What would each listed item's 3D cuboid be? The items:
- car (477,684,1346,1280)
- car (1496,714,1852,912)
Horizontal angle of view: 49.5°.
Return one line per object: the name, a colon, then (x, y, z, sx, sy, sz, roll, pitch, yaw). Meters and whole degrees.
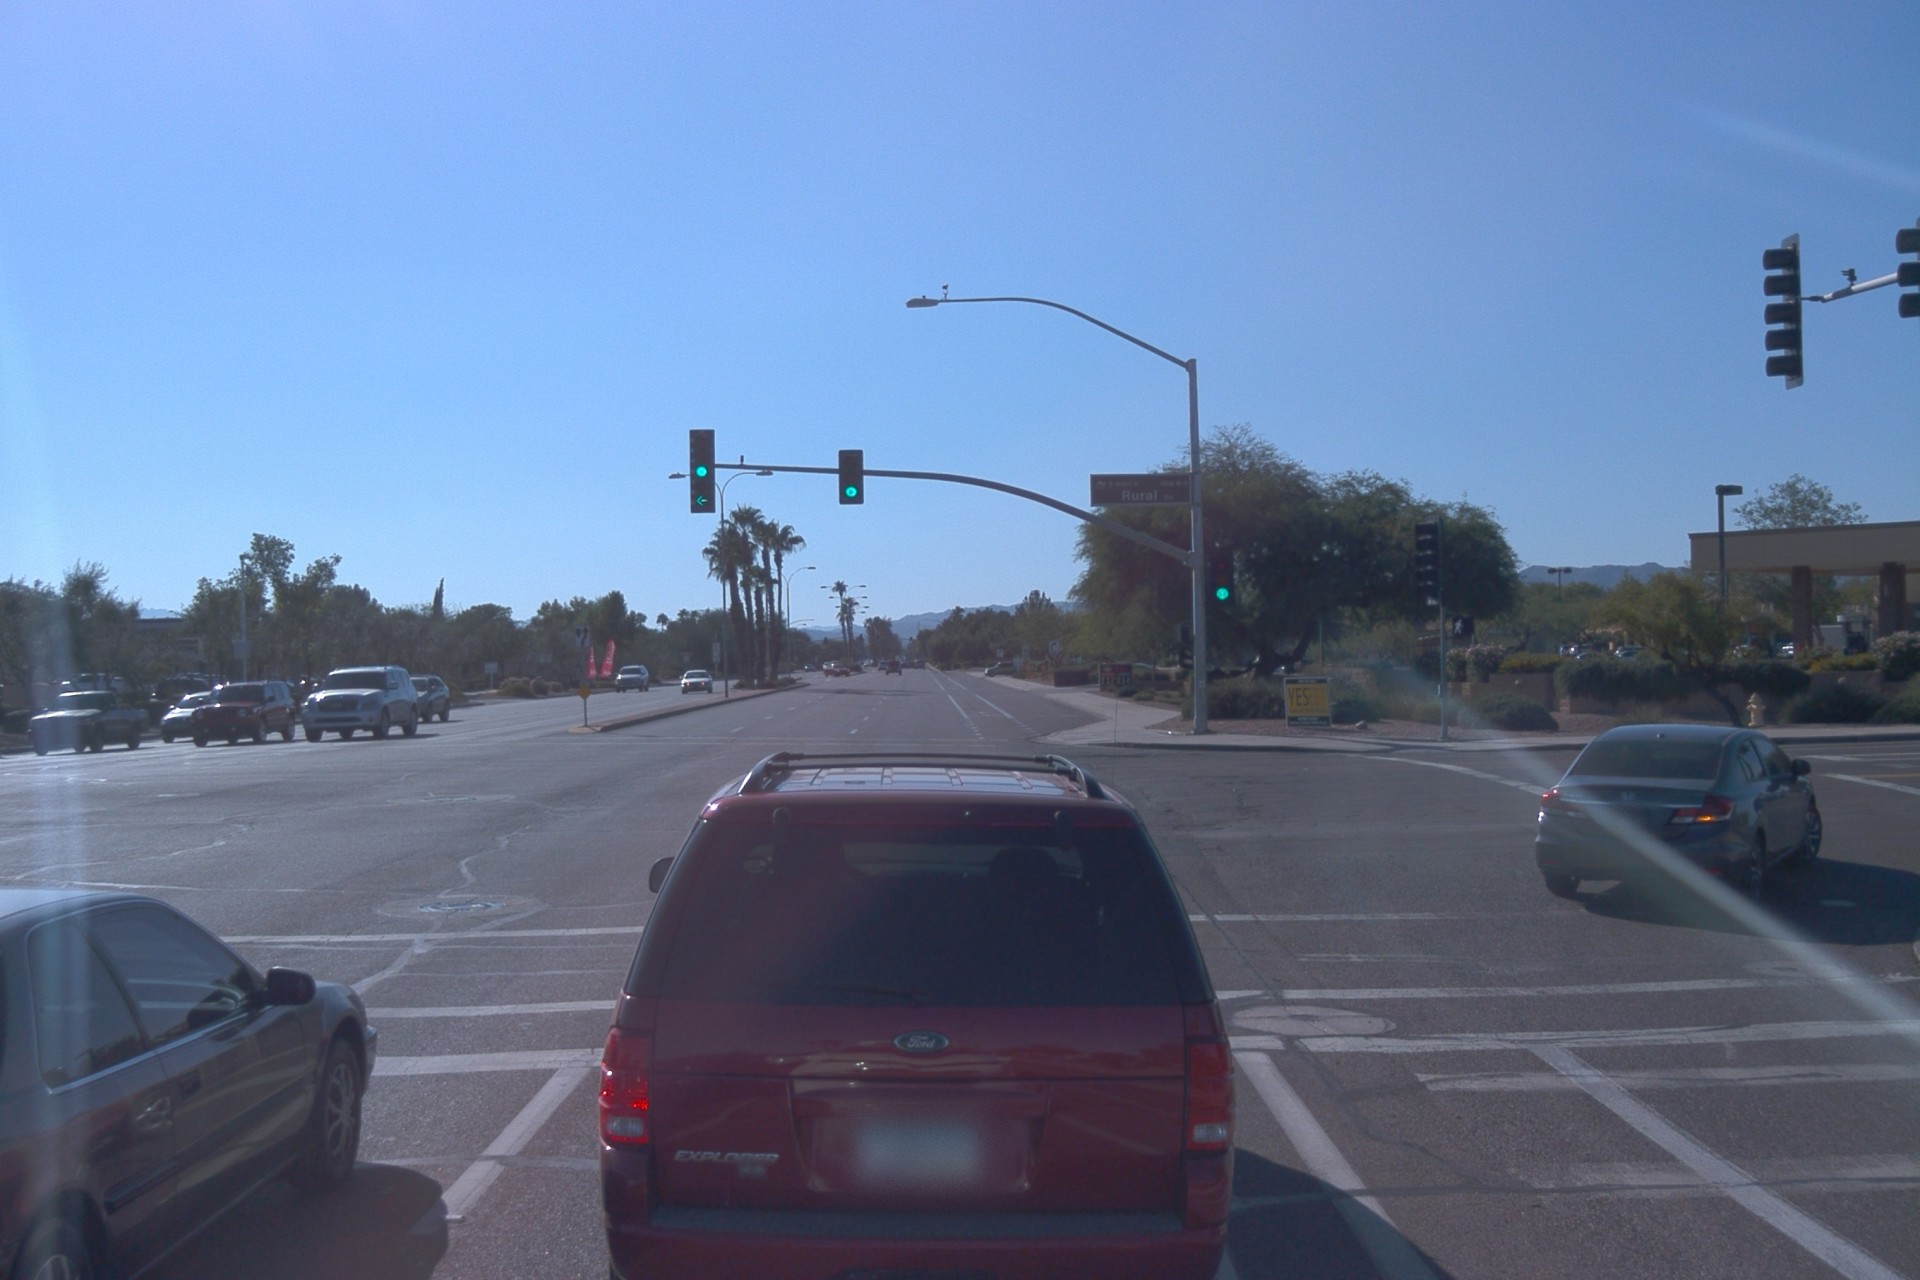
car: (-0.182, 1.203, 7.479, 2.169, 2.040, 4.462, 1, -1, -2)
car: (6.576, 1.446, 18.841, 1.990, 1.470, 4.502, 0, -1, 33)
